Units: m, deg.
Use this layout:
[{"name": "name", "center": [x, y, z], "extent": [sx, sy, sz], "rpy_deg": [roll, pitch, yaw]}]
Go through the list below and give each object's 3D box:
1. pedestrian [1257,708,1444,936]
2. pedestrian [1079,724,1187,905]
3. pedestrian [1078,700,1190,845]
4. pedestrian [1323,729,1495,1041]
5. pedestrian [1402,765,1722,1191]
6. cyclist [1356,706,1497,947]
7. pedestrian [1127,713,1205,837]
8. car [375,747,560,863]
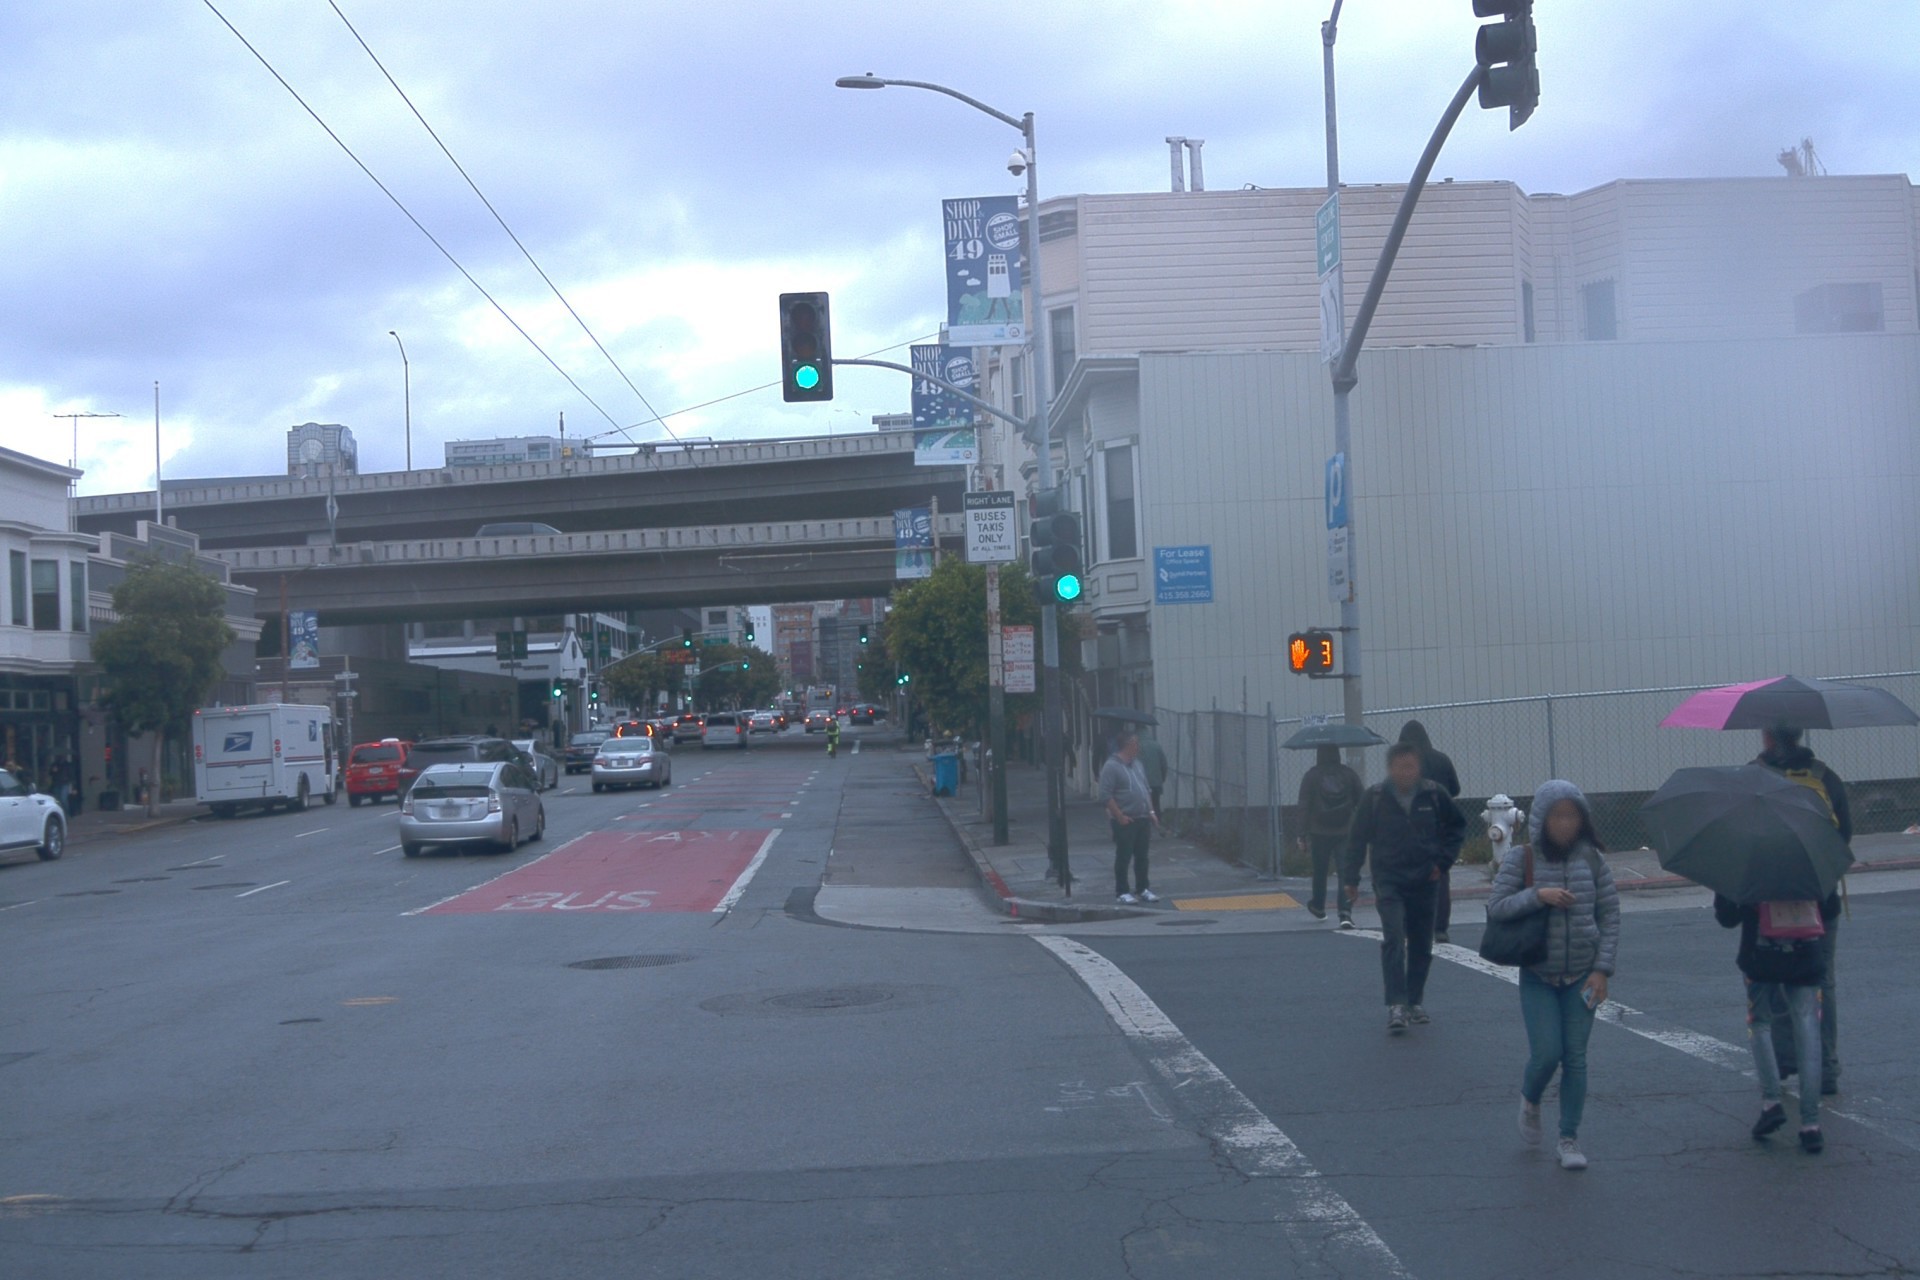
[{"name": "pedestrian", "center": [3.579, 1.637, 19.178], "extent": [1.351, 1.976, 1.599], "rpy_deg": [0, -1, -3]}, {"name": "pedestrian", "center": [1.827, 1.816, 21.879], "extent": [0.843, 1.837, 0.755], "rpy_deg": [0, -1, -32]}, {"name": "pedestrian", "center": [2.472, 1.872, 29.693], "extent": [1.409, 1.988, 1.526], "rpy_deg": [0, -1, -2]}, {"name": "pedestrian", "center": [2.563, 1.370, 11.932], "extent": [0.810, 1.680, 1.024], "rpy_deg": [0, -1, 3]}, {"name": "pedestrian", "center": [2.382, 1.307, 8.341], "extent": [1.000, 1.560, 1.000], "rpy_deg": [0, -1, 1]}, {"name": "cyclist", "center": [3.655, 1.434, 16.333], "extent": [0.779, 1.800, 1.139], "rpy_deg": [0, -1, -4]}, {"name": "pedestrian", "center": [2.911, 1.900, 29.451], "extent": [0.989, 1.692, 1.085], "rpy_deg": [0, -1, 0]}, {"name": "car", "center": [-8.136, 2.695, 34.691], "extent": [2.150, 1.640, 4.541], "rpy_deg": [0, -1, -2]}]
